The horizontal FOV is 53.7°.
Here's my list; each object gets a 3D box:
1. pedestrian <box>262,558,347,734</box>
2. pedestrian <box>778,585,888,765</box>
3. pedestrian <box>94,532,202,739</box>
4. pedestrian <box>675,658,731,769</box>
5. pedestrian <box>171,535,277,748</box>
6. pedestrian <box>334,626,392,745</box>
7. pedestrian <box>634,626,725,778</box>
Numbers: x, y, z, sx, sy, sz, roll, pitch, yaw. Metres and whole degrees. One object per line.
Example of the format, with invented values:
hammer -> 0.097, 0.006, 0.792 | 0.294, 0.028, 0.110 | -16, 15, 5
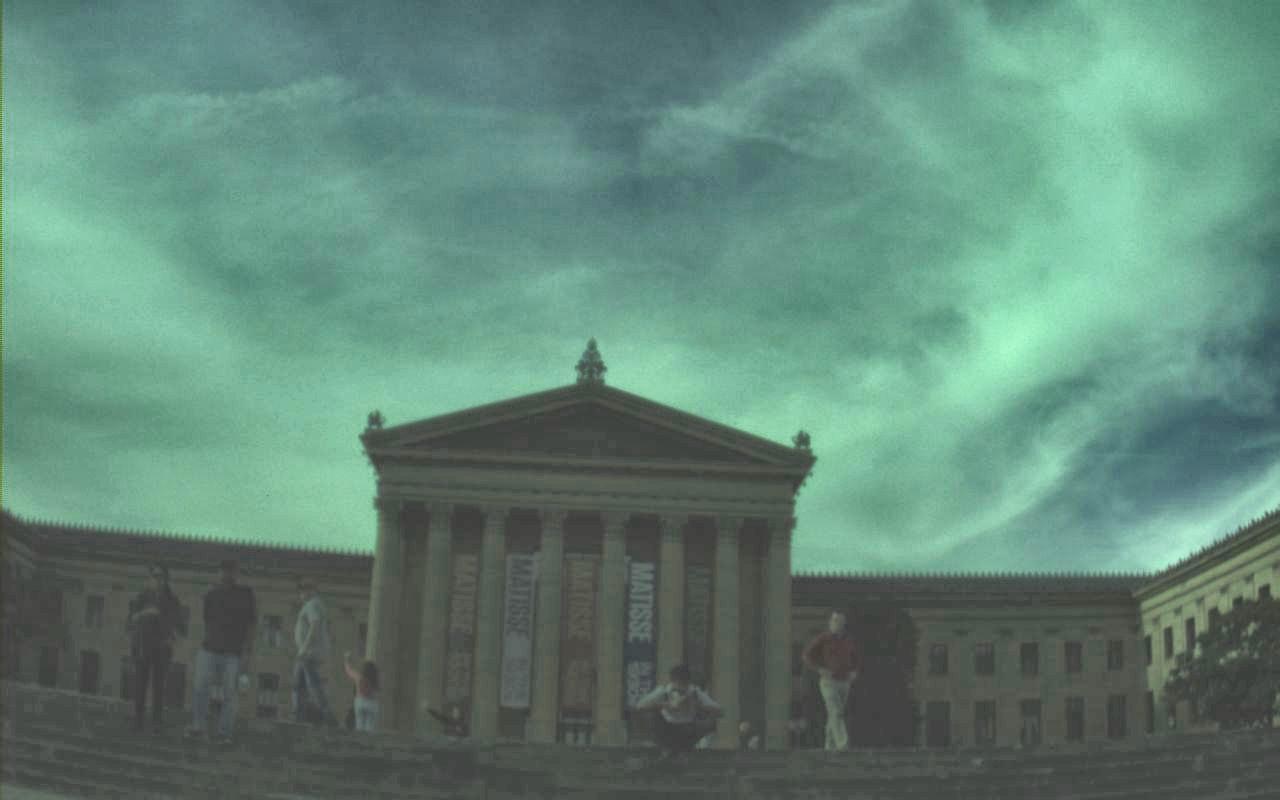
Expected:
pedestrian -> -3.838, 2.825, 13.710 | 0.832, 1.902, 0.801 | 0, 0, -9
pedestrian -> 2.156, 3.076, 13.709 | 0.820, 1.836, 0.844 | 0, 0, -34
pedestrian -> -4.565, 2.194, 10.666 | 0.752, 1.795, 0.755 | 0, 0, -5
pedestrian -> 1.066, 5.396, 21.057 | 0.684, 1.781, 0.692 | 0, 0, -25
pedestrian -> -3.787, 2.208, 10.708 | 0.757, 1.826, 0.753 | 0, 0, -6
pedestrian -> -4.525, 4.668, 19.575 | 0.662, 1.812, 0.663 | 0, 0, -38
pedestrian -> 0.346, 2.784, 11.296 | 0.803, 1.299, 0.708 | 0, 0, 0
